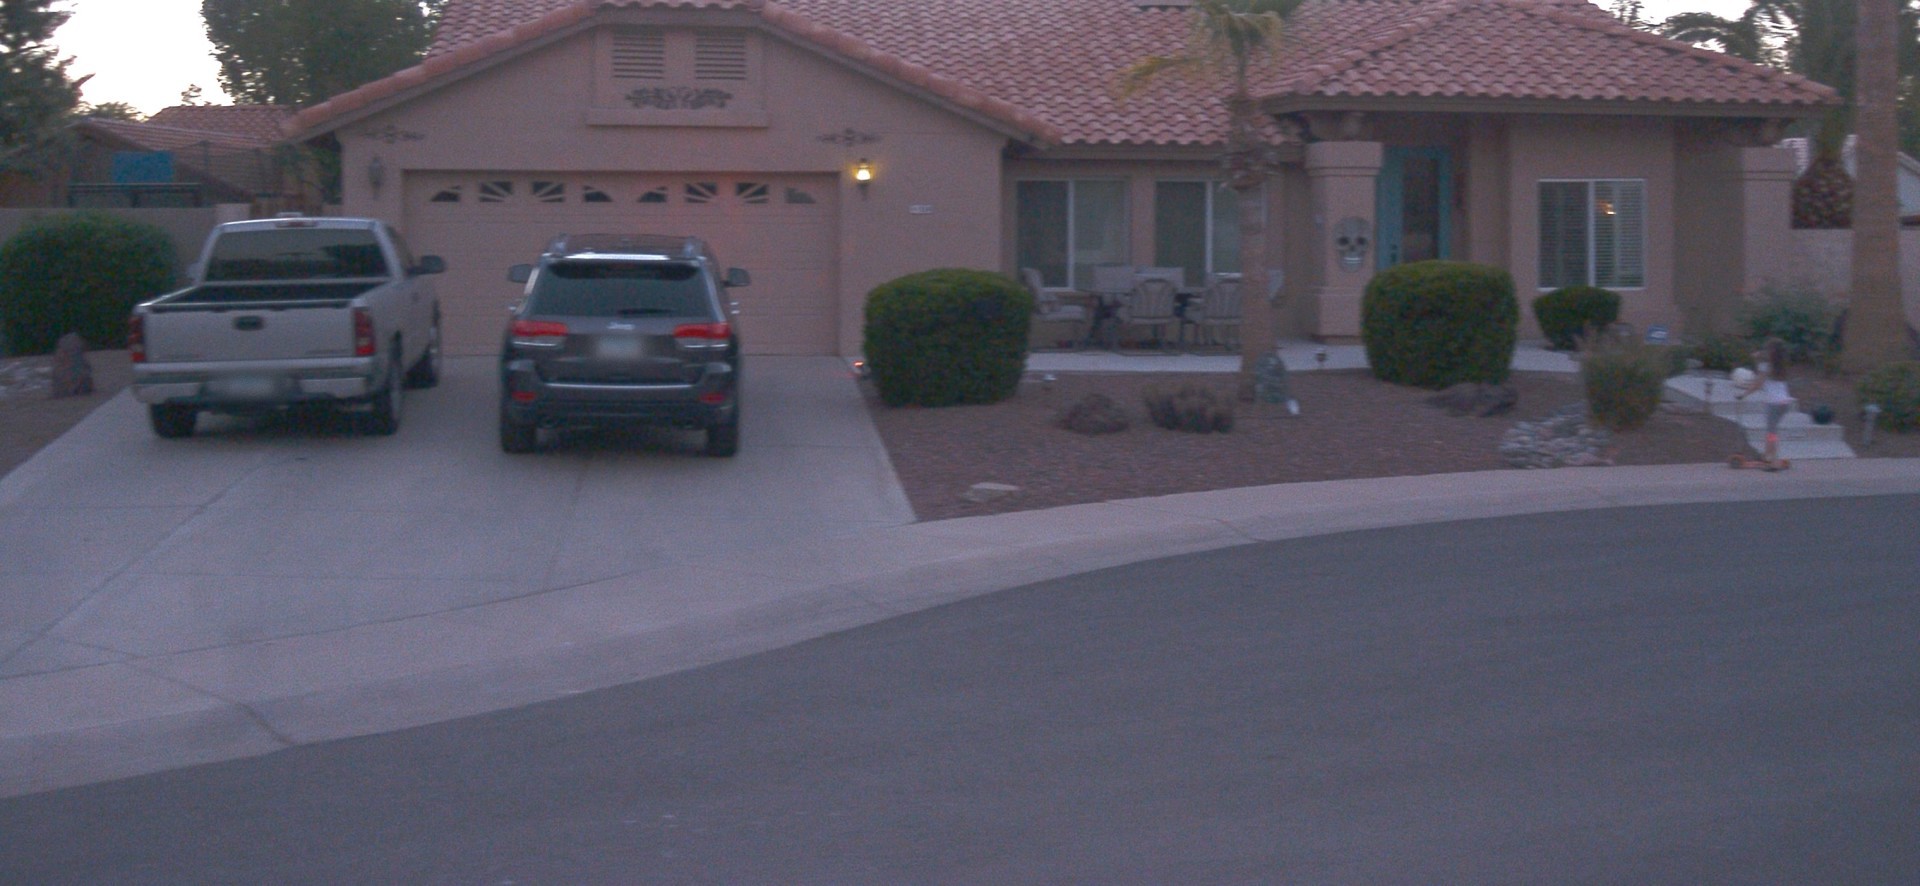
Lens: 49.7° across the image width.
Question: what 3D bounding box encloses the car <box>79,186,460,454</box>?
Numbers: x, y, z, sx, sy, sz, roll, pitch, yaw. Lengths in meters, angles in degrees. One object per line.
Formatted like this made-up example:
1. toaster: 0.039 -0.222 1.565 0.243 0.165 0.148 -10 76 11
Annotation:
1. car: -6.058 -1.255 18.951 2.403 2.091 5.215 0 5 -8

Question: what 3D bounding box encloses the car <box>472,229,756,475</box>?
1. car: -3.021 -0.956 18.433 2.170 1.852 4.834 0 5 -8

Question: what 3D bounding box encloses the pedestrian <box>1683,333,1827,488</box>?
1. pedestrian: 7.133 -0.316 18.637 0.652 1.278 1.090 0 3 -20
